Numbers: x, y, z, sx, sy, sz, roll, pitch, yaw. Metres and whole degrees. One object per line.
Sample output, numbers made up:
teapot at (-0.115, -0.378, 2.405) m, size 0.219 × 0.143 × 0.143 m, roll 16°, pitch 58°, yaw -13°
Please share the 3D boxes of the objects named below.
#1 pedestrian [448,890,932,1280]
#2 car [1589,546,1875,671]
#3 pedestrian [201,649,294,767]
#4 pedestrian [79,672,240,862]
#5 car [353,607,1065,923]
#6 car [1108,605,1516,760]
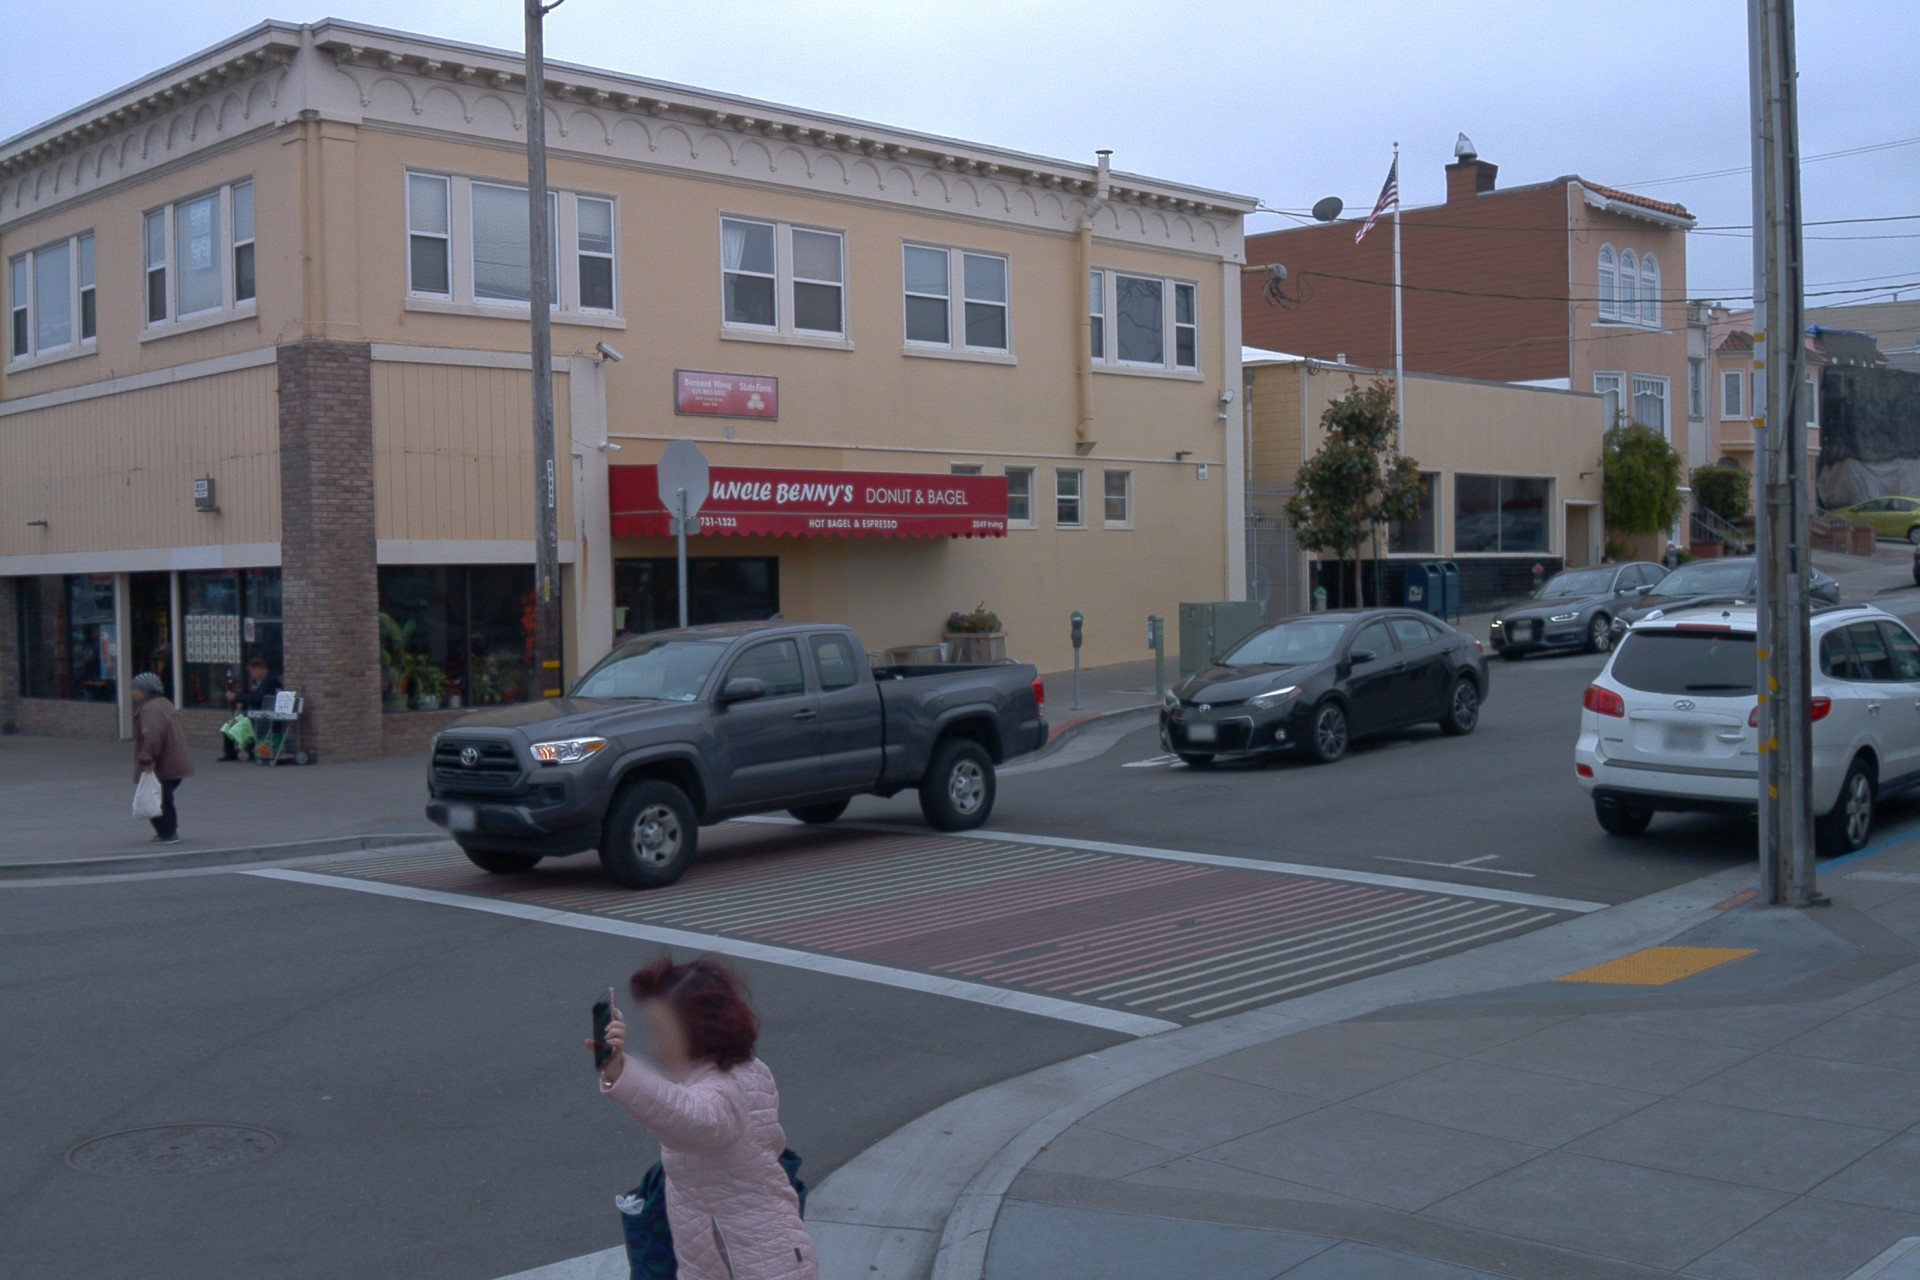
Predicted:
pedestrian at (-0.612, 1.348, 4.424) m, size 0.848 × 1.479 × 0.912 m, roll 0°, pitch 1°, yaw -19°
car at (11.141, -0.443, 29.614) m, size 2.082 × 1.644 × 4.864 m, roll 1°, pitch 1°, yaw 44°
pedestrian at (-8.564, 0.805, 24.839) m, size 0.878 × 1.374 × 0.735 m, roll 1°, pitch 1°, yaw 44°
pedestrian at (-6.545, 1.014, 16.943) m, size 0.831 × 1.477 × 1.068 m, roll 0°, pitch 1°, yaw 6°
car at (-1.690, 0.770, 15.863) m, size 2.075 × 2.008 × 5.437 m, roll 0°, pitch 1°, yaw 41°
car at (3.771, 0.370, 21.578) m, size 2.067 × 1.440 × 4.540 m, roll 0°, pitch 1°, yaw 42°
